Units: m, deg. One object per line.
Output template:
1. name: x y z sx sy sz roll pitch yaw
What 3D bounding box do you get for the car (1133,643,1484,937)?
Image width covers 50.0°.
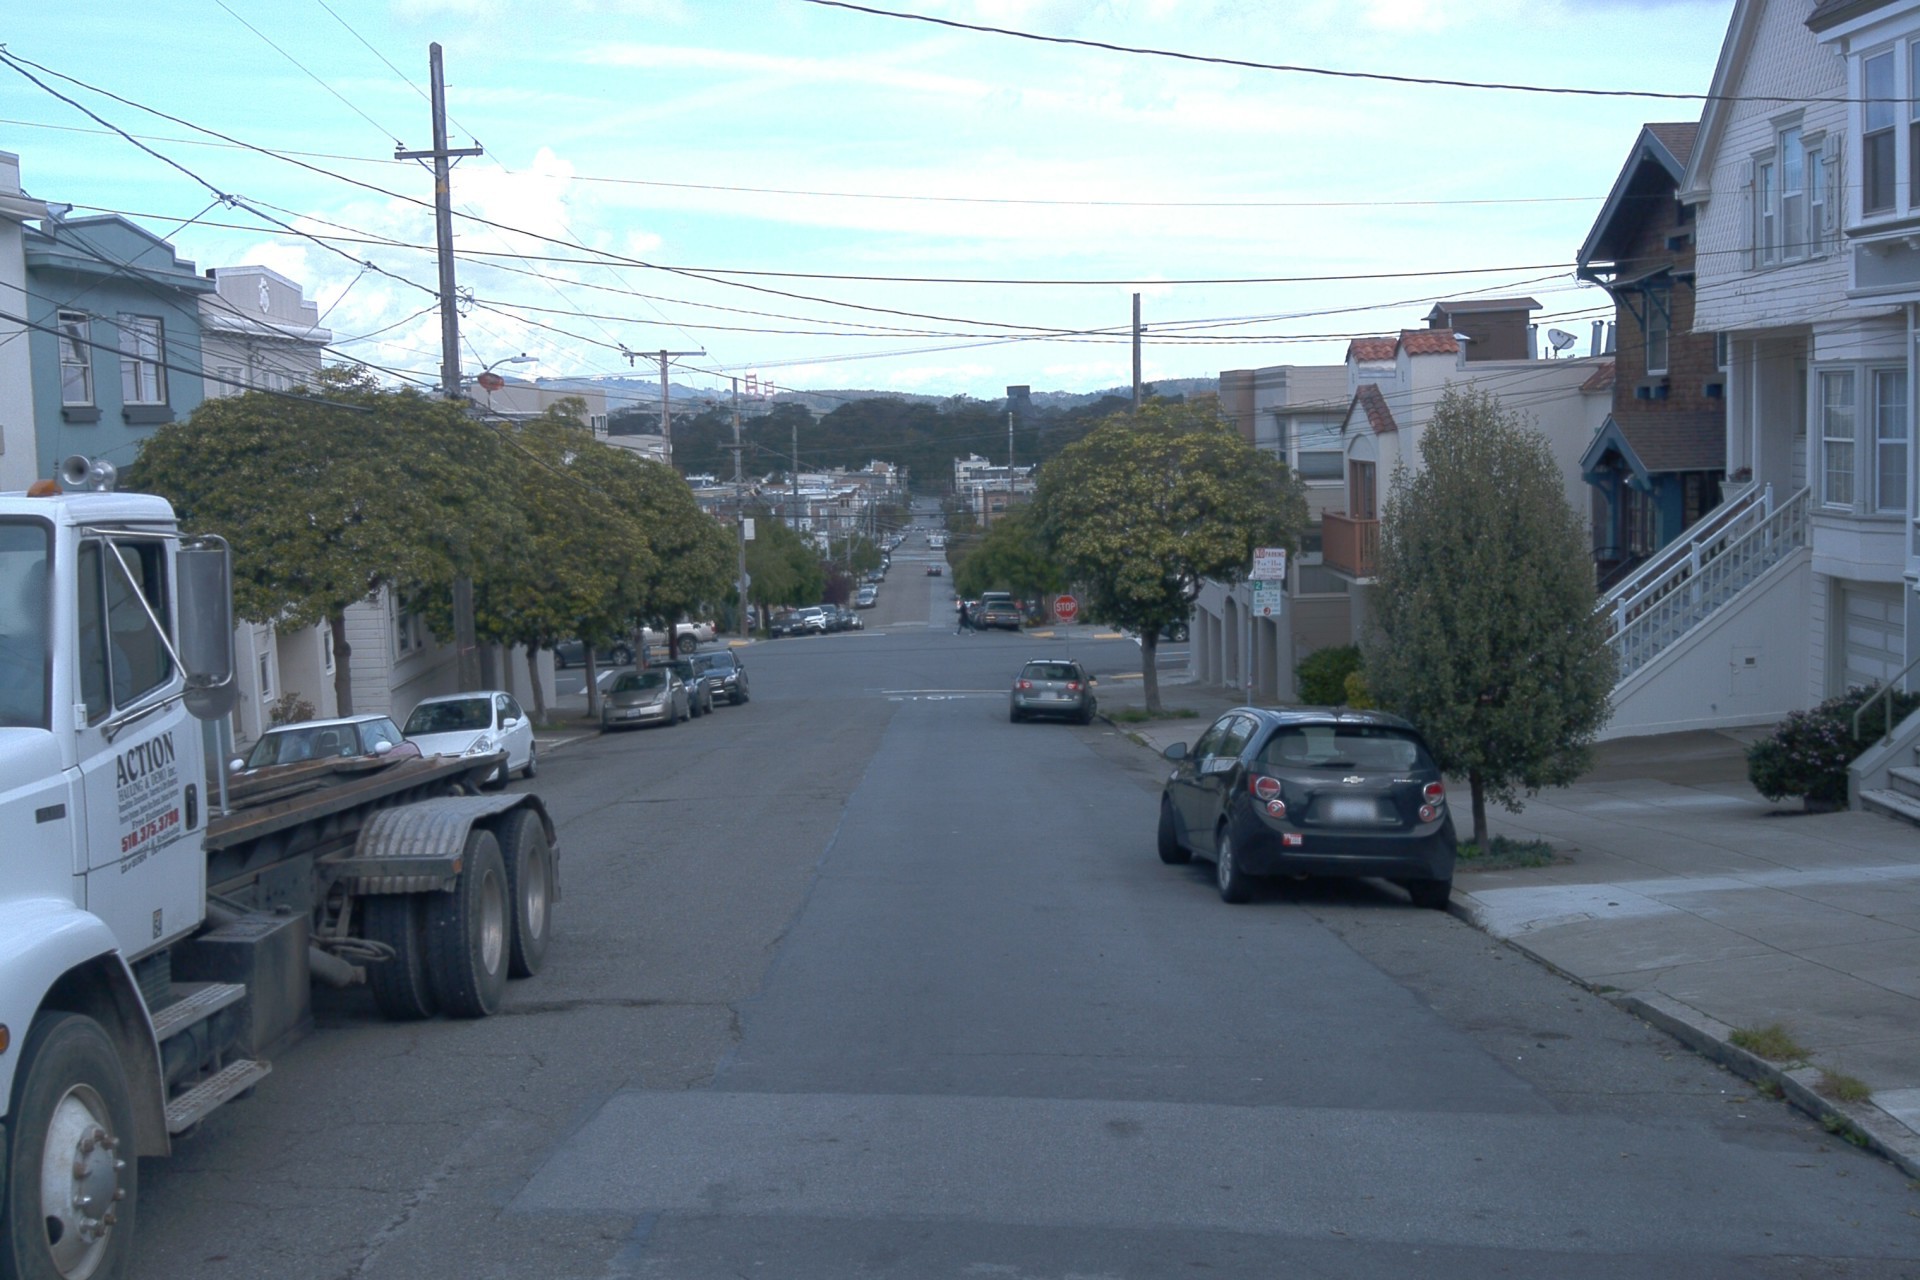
1. car: 2.736 1.097 17.241 1.978 2.130 4.417 0 0 -3

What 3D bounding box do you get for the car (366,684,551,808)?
1. car: -7.656 1.572 31.832 1.947 1.710 4.057 0 0 -2

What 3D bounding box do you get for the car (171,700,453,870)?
1. car: -7.457 1.613 24.126 1.997 1.710 3.979 0 0 1
